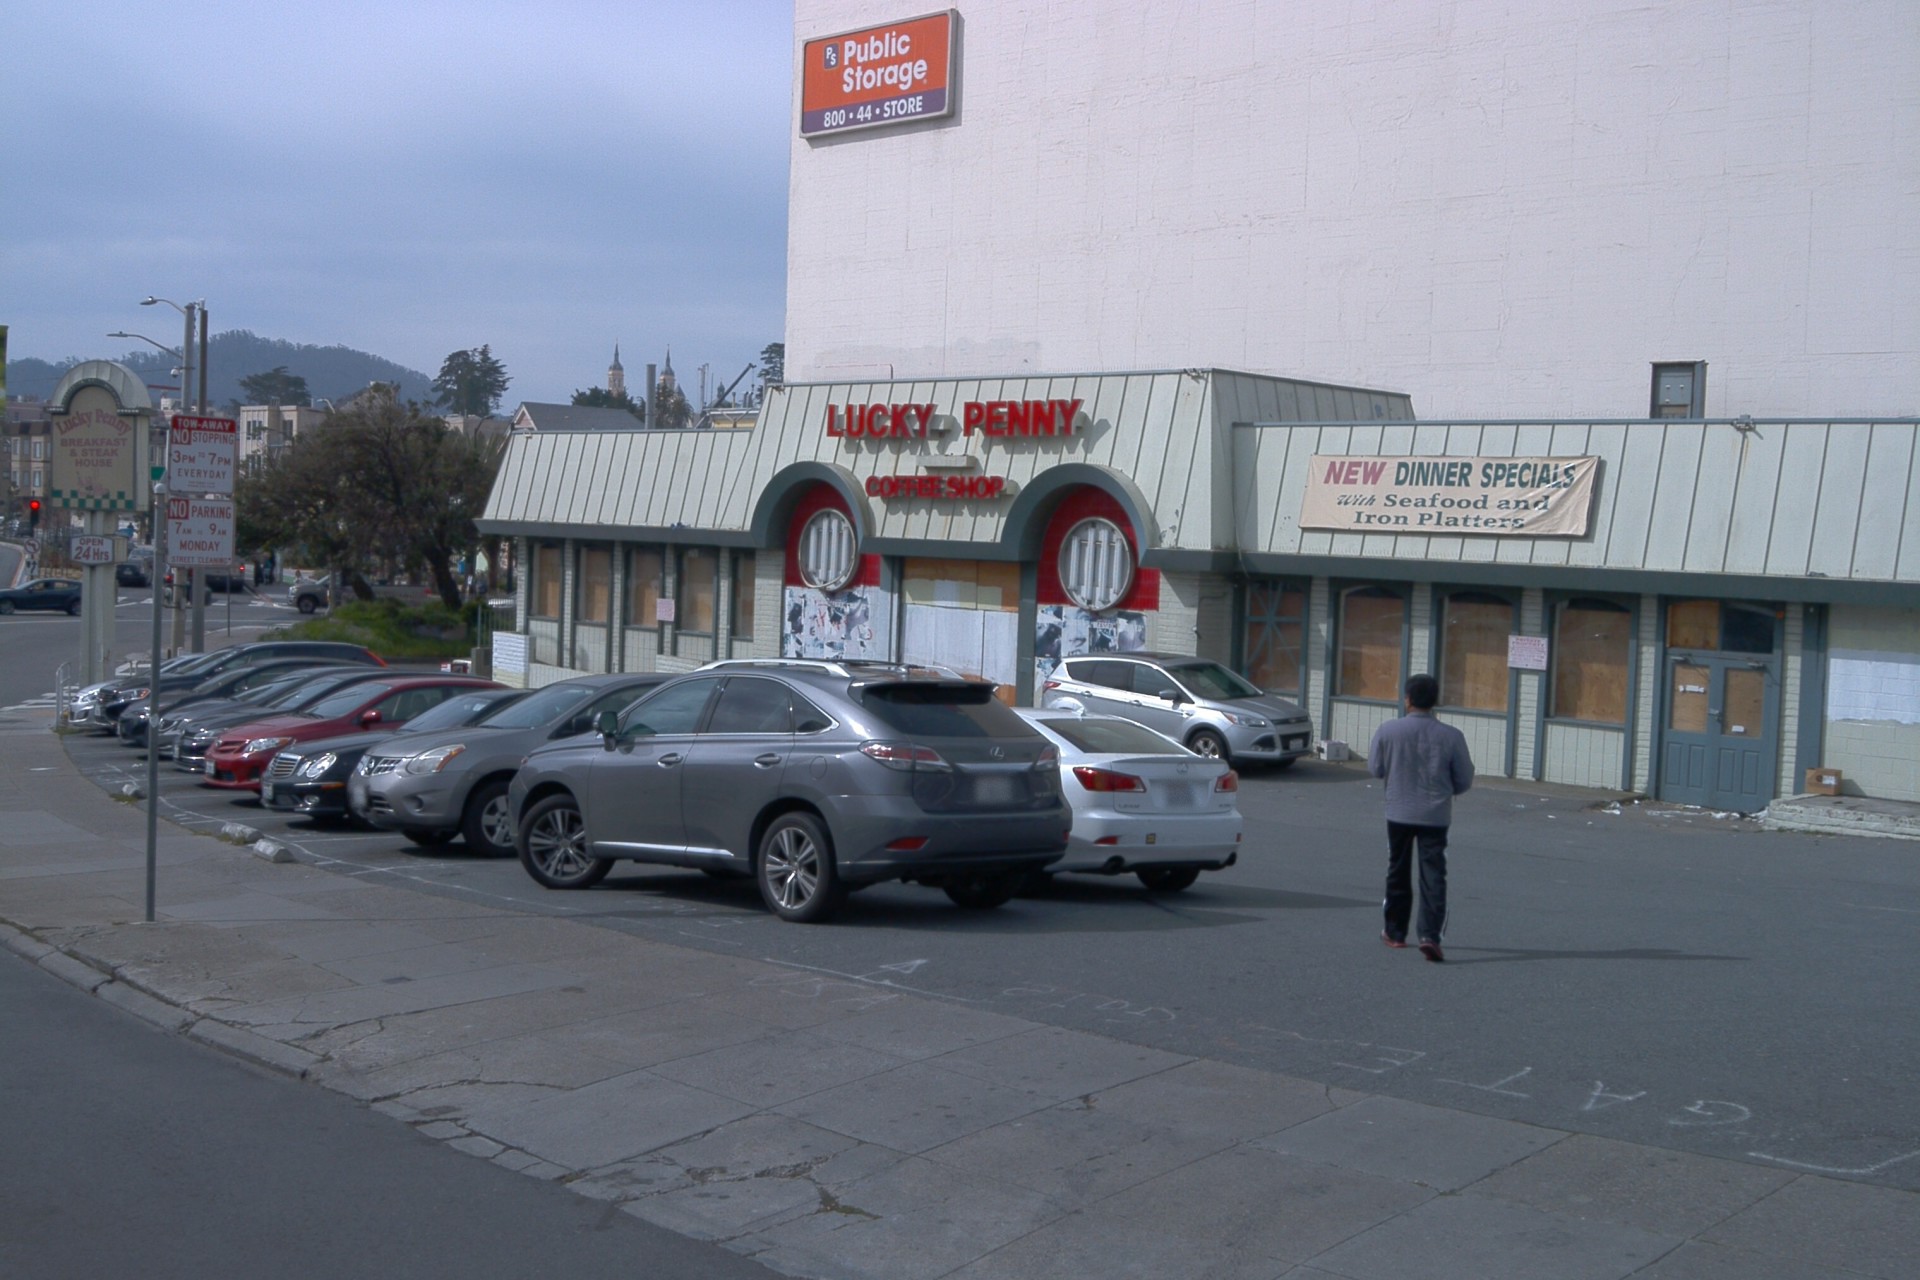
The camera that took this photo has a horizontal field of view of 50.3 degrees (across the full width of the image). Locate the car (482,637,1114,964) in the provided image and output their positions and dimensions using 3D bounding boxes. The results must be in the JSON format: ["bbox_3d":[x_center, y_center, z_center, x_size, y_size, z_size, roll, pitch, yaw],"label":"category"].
[{"bbox_3d":[-1.292,0.964,14.599,2.065,1.920,4.493,0,0,-45],"label":"car"}]

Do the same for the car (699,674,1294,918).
[{"bbox_3d":[0.159,1.128,16.691,2.088,1.580,4.738,0,0,-44],"label":"car"}]

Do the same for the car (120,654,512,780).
[{"bbox_3d":[-8.982,1.004,28.781,4.736,1.590,2.241,0,0,-44],"label":"car"}]

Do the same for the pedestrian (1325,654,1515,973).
[{"bbox_3d":[2.644,0.962,11.882,0.943,1.744,1.076,1,0,6],"label":"pedestrian"}]

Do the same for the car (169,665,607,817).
[{"bbox_3d":[-6.657,1.104,24.115,4.484,1.550,2.134,0,0,-44],"label":"car"}]

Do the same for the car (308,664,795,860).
[{"bbox_3d":[-3.714,1.032,19.045,1.975,1.570,4.019,1,0,44],"label":"car"}]

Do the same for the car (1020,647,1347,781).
[{"bbox_3d":[3.289,1.033,30.718,2.134,1.790,4.557,0,0,-44],"label":"car"}]

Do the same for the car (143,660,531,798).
[{"bbox_3d":[-7.972,1.072,26.409,4.343,1.580,1.994,0,0,-43],"label":"car"}]

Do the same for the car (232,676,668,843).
[{"bbox_3d":[-5.264,1.165,21.426,4.029,1.500,1.869,0,0,-45],"label":"car"}]

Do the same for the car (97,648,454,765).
[{"bbox_3d":[-10.336,0.950,31.104,4.651,1.610,2.192,0,0,-43],"label":"car"}]

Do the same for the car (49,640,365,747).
[{"bbox_3d":[-13.134,0.885,35.854,4.757,1.740,2.072,0,0,-43],"label":"car"}]

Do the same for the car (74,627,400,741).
[{"bbox_3d":[-11.716,0.668,33.334,4.561,1.710,2.059,0,0,-43],"label":"car"}]
